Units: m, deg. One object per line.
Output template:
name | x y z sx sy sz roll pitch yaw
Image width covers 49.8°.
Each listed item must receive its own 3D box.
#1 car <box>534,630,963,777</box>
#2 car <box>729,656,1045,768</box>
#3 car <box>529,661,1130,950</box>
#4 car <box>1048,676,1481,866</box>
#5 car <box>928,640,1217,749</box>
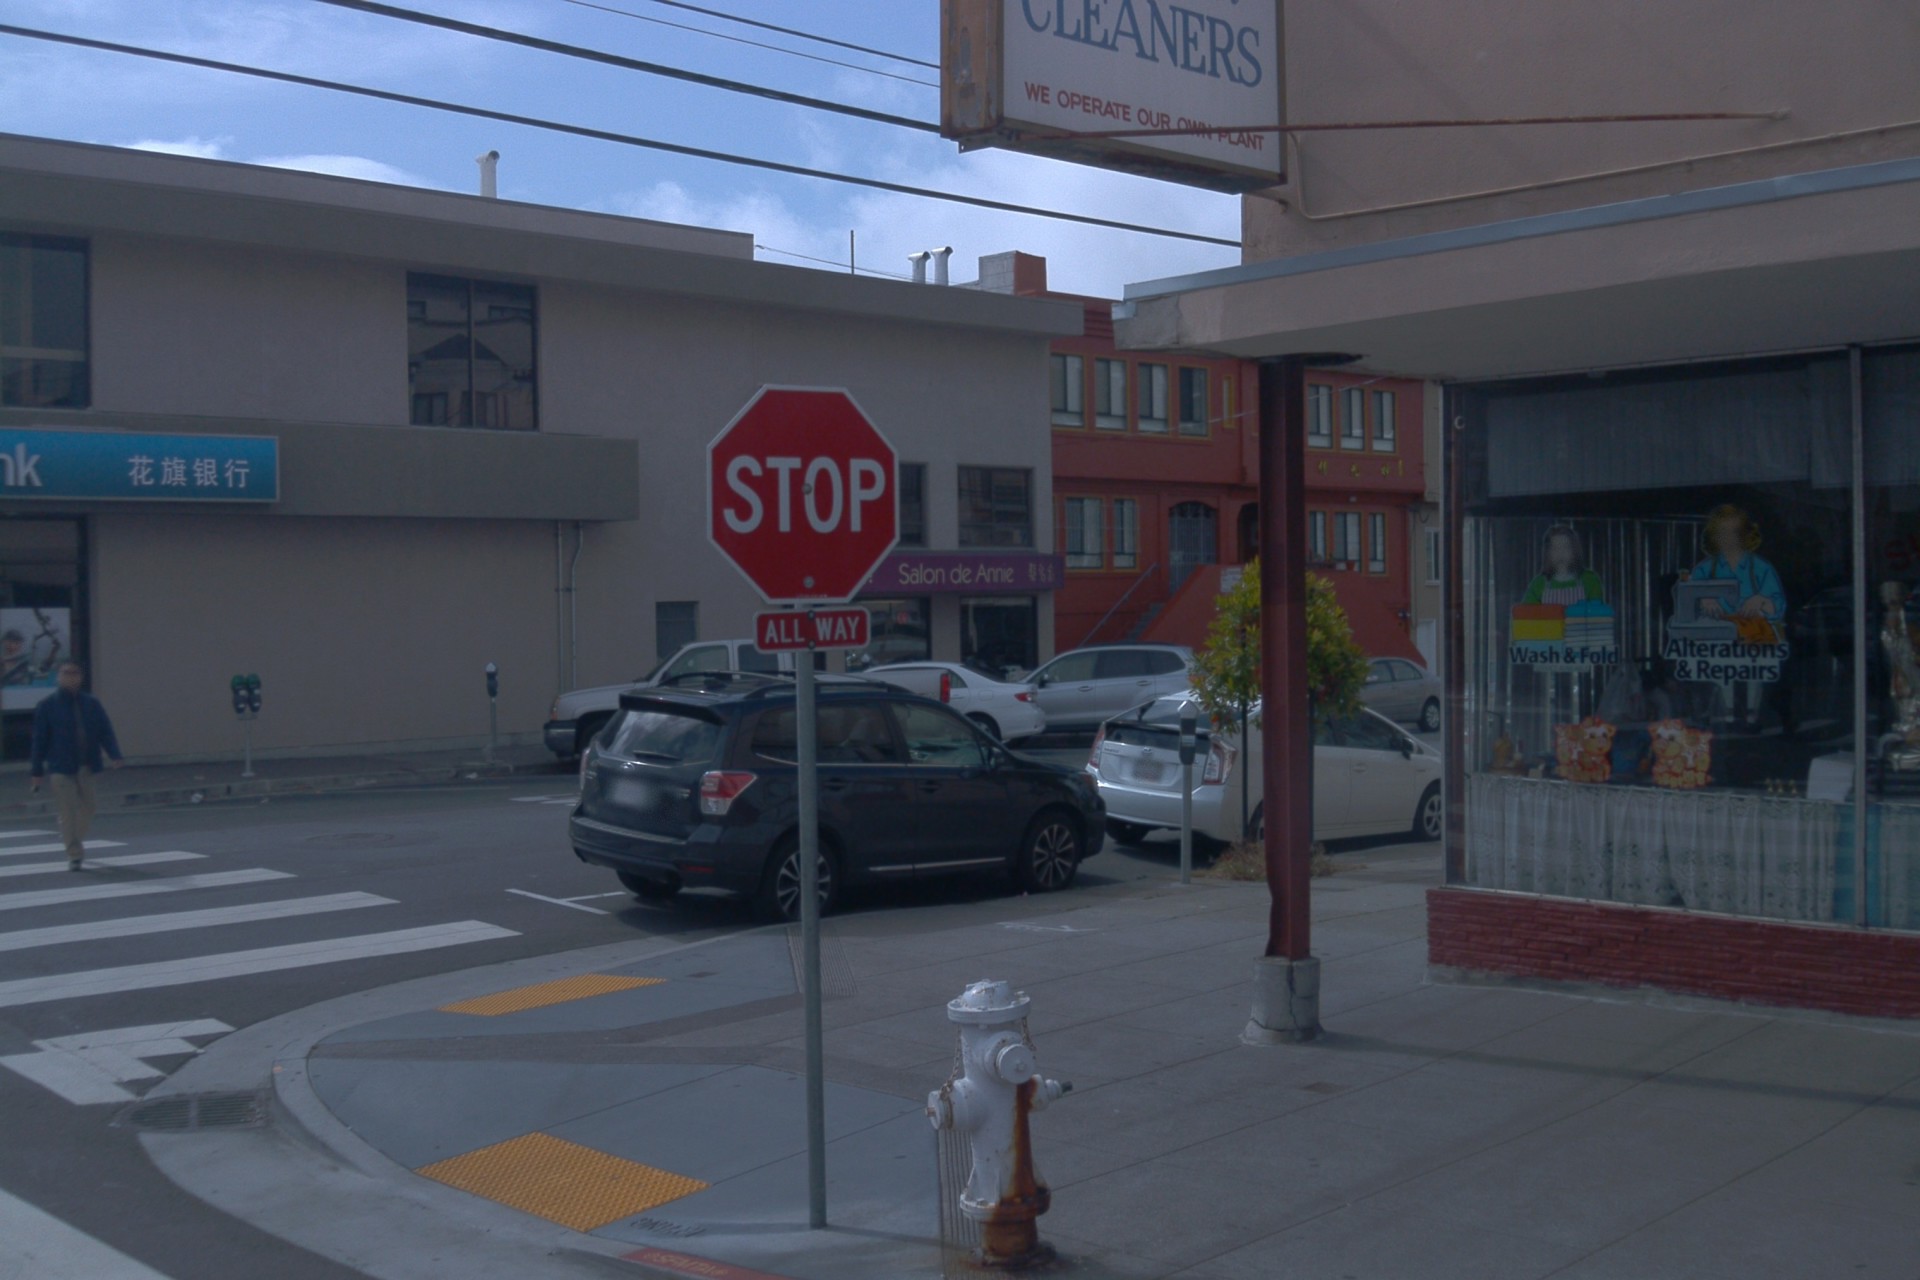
car | -2.927 0.874 29.377 5.805 1.970 2.405 0 -1 -2
car | -1.058 1.078 31.897 4.699 1.630 2.090 0 -1 4
car | -0.870 1.116 15.856 2.005 1.877 4.386 0 -1 44
car | 2.988 1.144 19.699 2.020 1.567 4.203 0 -1 44
car | 1.937 0.883 34.693 4.703 1.730 2.088 0 -1 8
